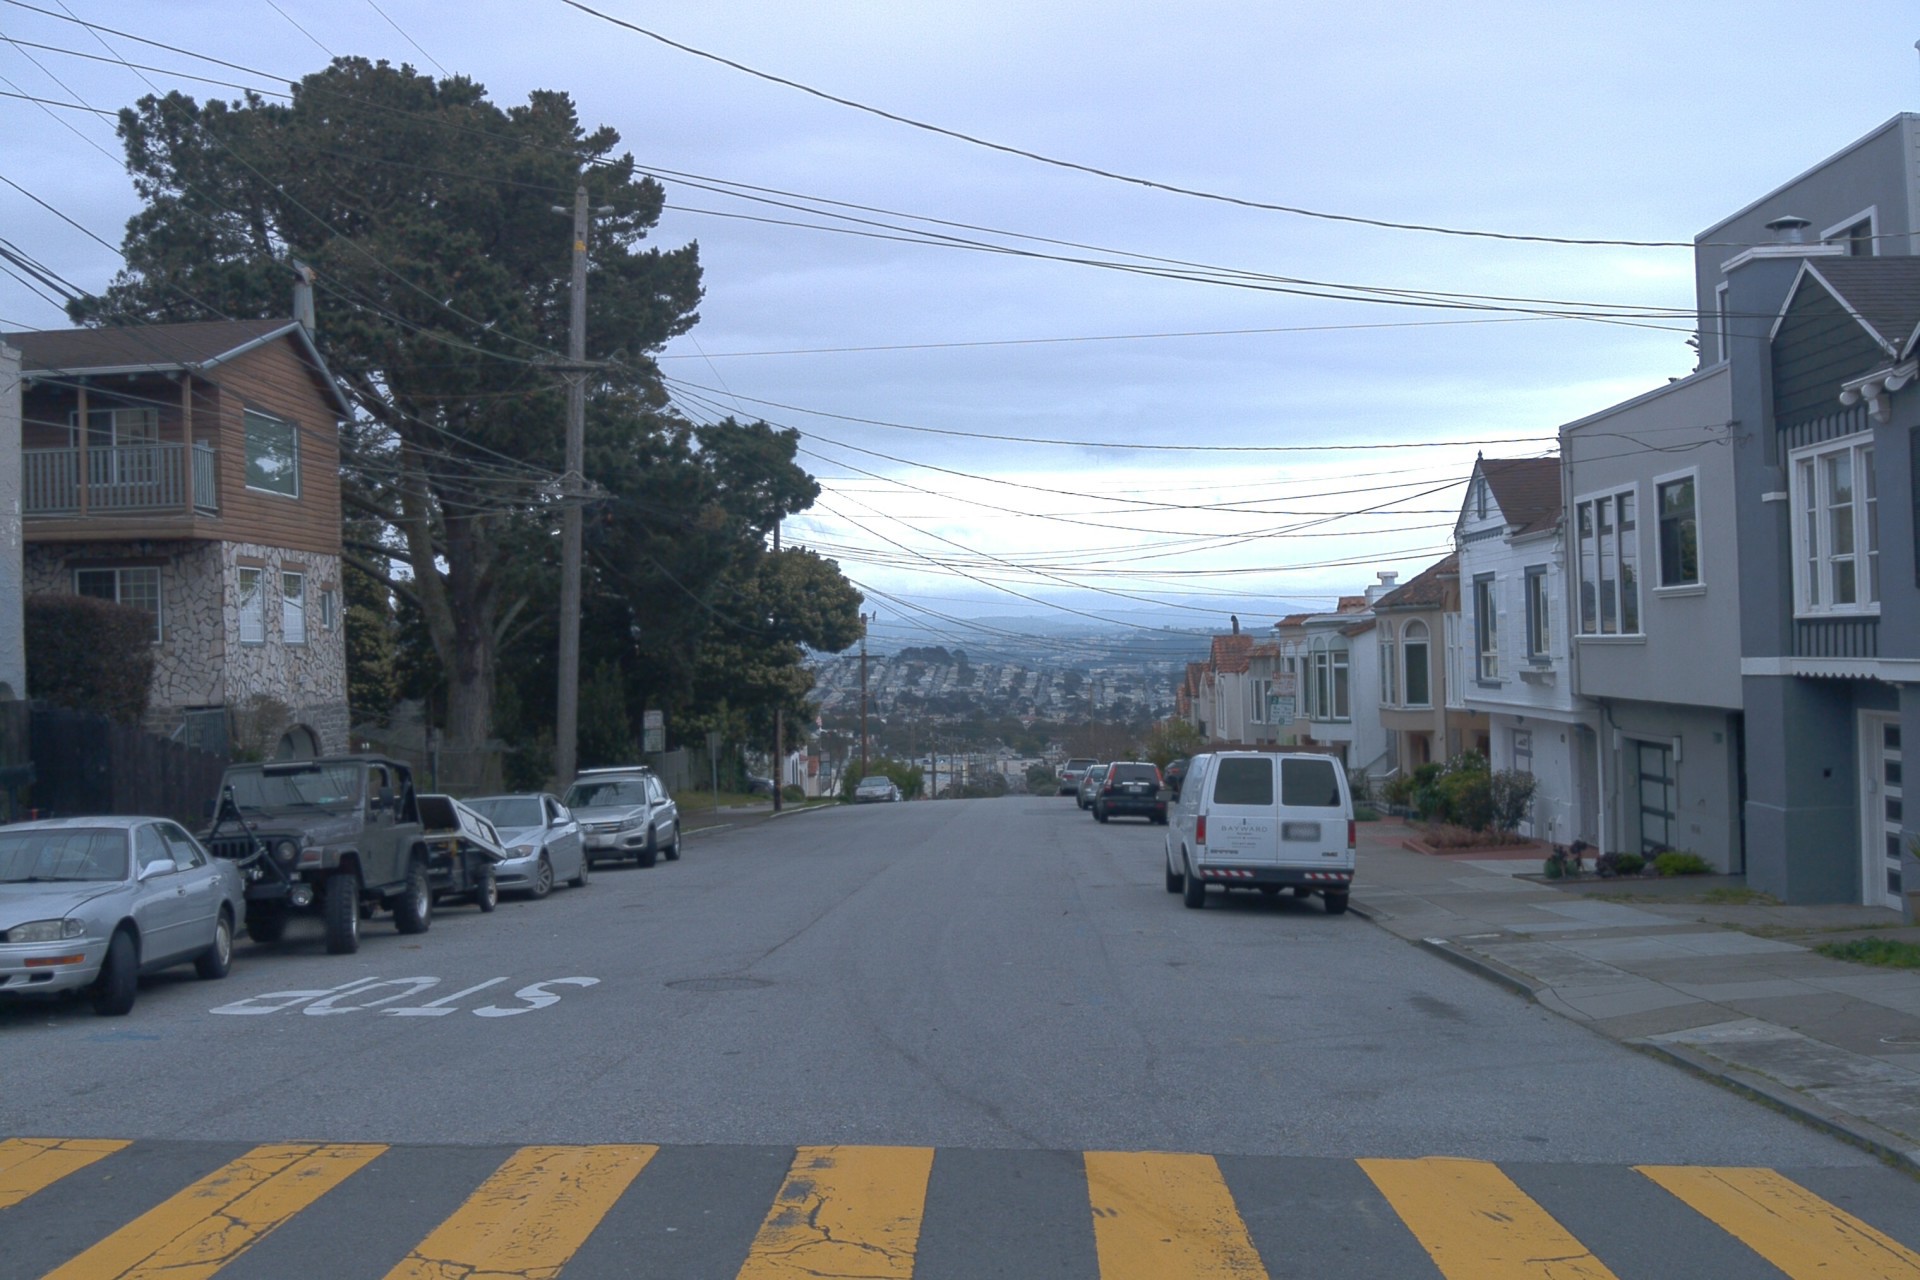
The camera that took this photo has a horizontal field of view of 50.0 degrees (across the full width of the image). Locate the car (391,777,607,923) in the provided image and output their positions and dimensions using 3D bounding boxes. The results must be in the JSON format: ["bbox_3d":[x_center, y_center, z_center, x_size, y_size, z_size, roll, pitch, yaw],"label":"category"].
[{"bbox_3d":[-6.139,2.769,27.956,1.979,1.530,4.513,0,0,-1],"label":"car"}]

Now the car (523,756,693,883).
[{"bbox_3d":[-6.066,3.072,36.054,2.107,1.830,4.357,0,0,2],"label":"car"}]

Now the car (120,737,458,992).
[{"bbox_3d":[-6.378,2.056,20.108,1.997,2.030,4.192,0,0,-1],"label":"car"}]

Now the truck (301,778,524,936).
[{"bbox_3d":[-6.258,2.458,23.858,1.696,1.510,2.985,0,0,2],"label":"truck"}]

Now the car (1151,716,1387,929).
[{"bbox_3d":[3.687,2.133,25.503,2.330,2.195,4.904,0,0,2],"label":"car"}]
